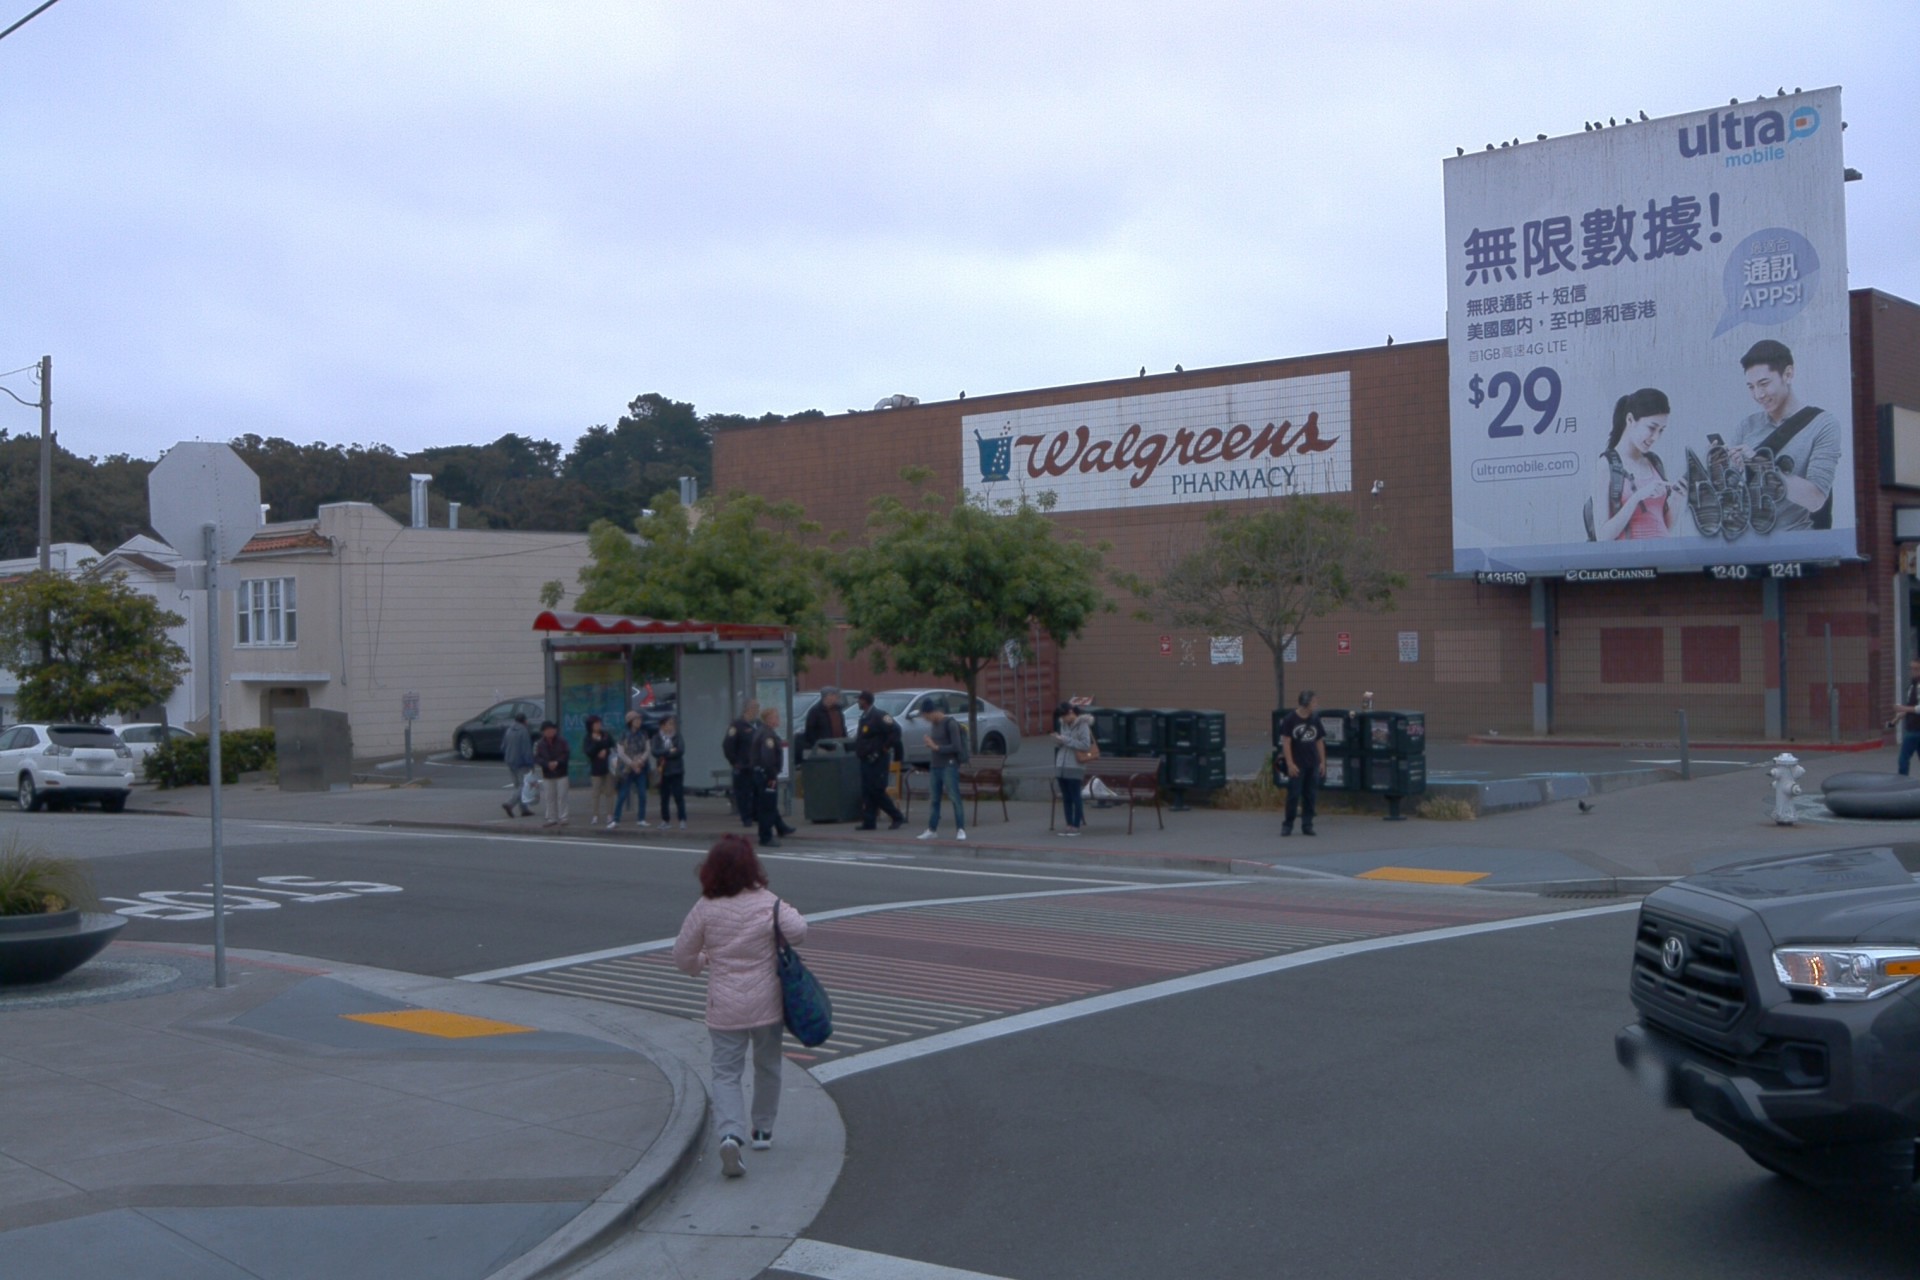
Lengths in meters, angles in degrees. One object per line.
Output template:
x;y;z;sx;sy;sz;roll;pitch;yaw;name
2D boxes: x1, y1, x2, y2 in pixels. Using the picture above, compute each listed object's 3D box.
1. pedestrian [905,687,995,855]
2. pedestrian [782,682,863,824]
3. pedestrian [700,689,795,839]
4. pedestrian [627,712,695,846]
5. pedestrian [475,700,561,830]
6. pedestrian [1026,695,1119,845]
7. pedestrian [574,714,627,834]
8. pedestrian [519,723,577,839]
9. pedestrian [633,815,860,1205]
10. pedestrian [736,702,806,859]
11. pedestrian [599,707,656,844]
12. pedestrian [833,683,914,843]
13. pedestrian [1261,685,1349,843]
-0.119;1.543;24.626;0.661;1.910;0.879;1;1;39;pedestrian
-1.961;1.587;29.361;0.921;1.935;0.825;0;1;-23;pedestrian
-2.839;1.633;27.600;0.842;1.910;0.939;1;1;37;pedestrian
-4.031;1.862;27.846;0.686;1.730;0.706;-1;1;-31;pedestrian
-6.731;1.889;31.428;0.922;1.880;0.870;1;1;28;pedestrian
1.335;1.518;24.431;0.872;1.690;0.667;1;1;38;pedestrian
-5.121;1.899;29.421;0.684;1.635;0.709;0;1;-6;pedestrian
-5.895;2.012;29.562;0.684;1.610;0.709;0;1;0;pedestrian
-0.881;1.525;8.741;0.909;1.479;0.851;0;1;-3;pedestrian
-2.334;1.713;25.447;0.812;1.841;0.986;0;1;-8;pedestrian
-4.582;1.863;28.497;0.760;1.830;0.681;0;1;-9;pedestrian
-1.075;1.522;25.884;0.956;1.930;0.992;0;1;1;pedestrian
3.953;1.398;23.647;0.723;1.730;0.739;1;1;40;pedestrian
